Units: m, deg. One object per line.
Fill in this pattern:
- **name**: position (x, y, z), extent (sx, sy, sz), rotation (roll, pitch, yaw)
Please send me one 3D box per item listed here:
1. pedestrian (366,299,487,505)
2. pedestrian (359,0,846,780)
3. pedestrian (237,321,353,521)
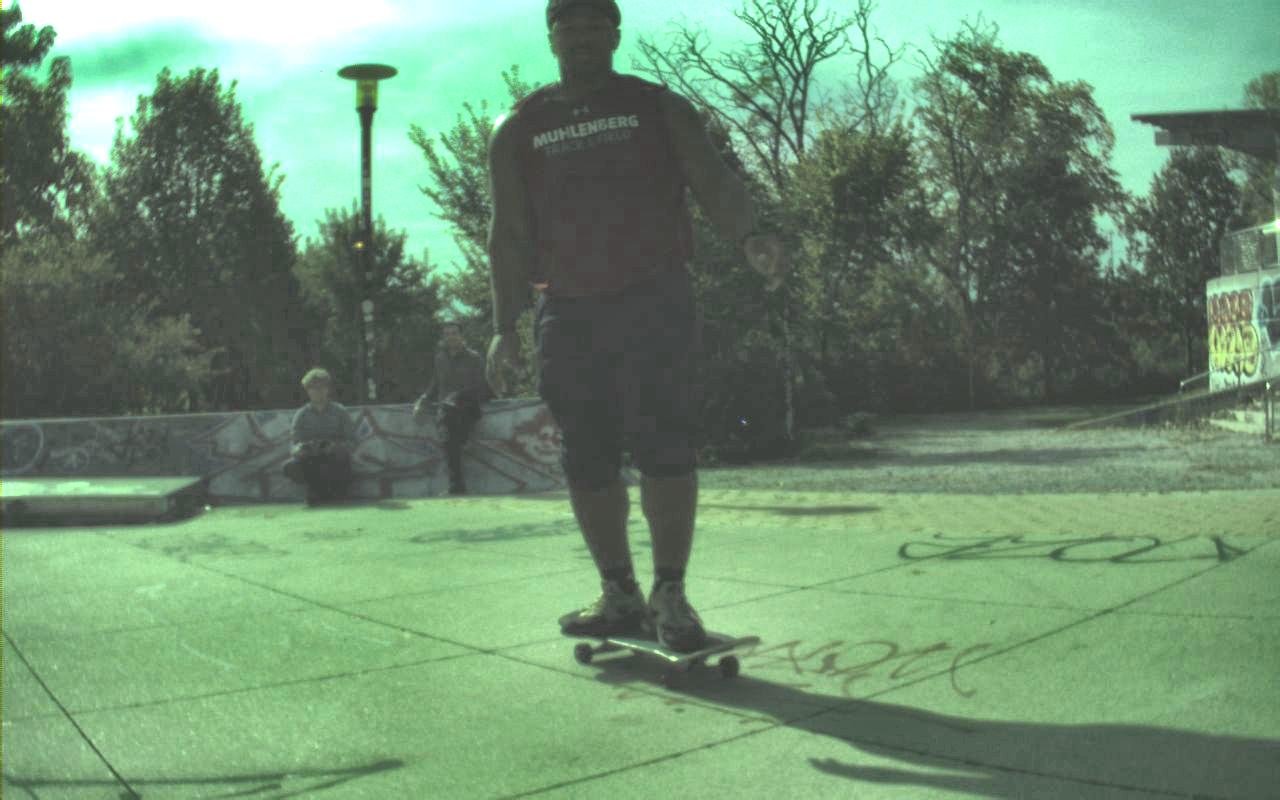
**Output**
- **pedestrian**: position (-1.815, 0.013, 10.490), extent (0.855, 1.655, 0.821), rotation (0, 0, -24)
- **pedestrian**: position (-0.120, -0.174, 2.939), extent (0.848, 1.805, 0.889), rotation (0, 0, -33)
- **pedestrian**: position (-2.837, 0.166, 10.045), extent (0.838, 1.579, 0.803), rotation (0, 0, -4)
